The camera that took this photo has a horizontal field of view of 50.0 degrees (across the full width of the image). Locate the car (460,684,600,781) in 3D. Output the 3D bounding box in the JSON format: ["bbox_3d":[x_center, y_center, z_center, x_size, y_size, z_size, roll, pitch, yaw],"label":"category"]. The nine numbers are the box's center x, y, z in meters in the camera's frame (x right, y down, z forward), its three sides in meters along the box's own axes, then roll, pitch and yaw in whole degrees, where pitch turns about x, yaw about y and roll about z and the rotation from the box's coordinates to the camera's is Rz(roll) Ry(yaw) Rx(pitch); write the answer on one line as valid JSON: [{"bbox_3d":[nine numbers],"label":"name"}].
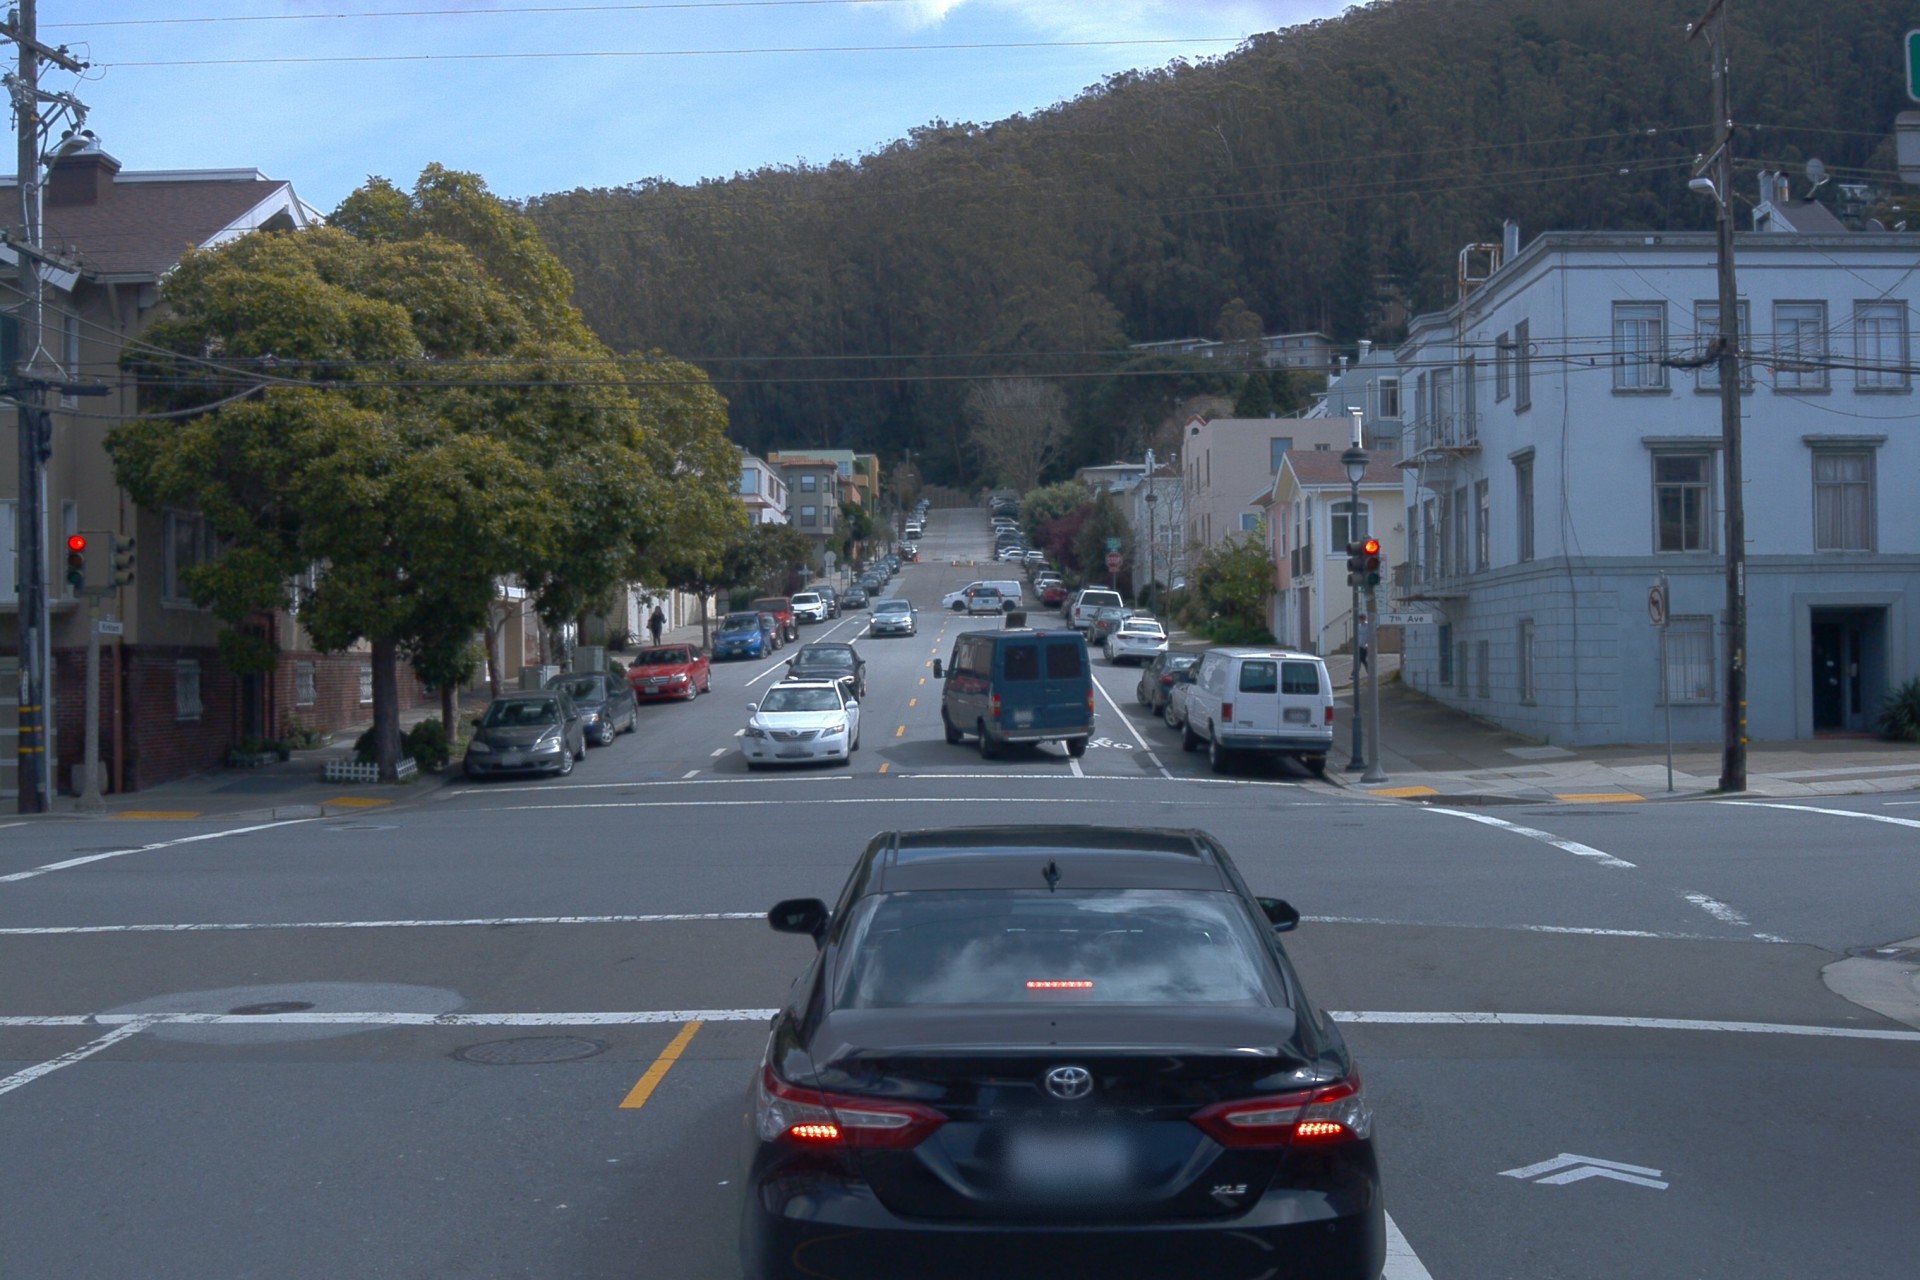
[{"bbox_3d":[-7.707,1.628,37.253,1.836,1.560,4.133,0,0,-3],"label":"car"}]

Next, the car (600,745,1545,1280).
[{"bbox_3d":[0.282,1.307,7.305,2.249,1.620,4.798,0,0,0],"label":"car"}]

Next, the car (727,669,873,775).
[{"bbox_3d":[-2.840,1.446,37.659,2.209,1.750,4.541,0,0,1],"label":"car"}]

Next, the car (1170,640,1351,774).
[{"bbox_3d":[5.315,1.123,37.218,2.299,2.250,5.313,0,0,-2],"label":"car"}]
